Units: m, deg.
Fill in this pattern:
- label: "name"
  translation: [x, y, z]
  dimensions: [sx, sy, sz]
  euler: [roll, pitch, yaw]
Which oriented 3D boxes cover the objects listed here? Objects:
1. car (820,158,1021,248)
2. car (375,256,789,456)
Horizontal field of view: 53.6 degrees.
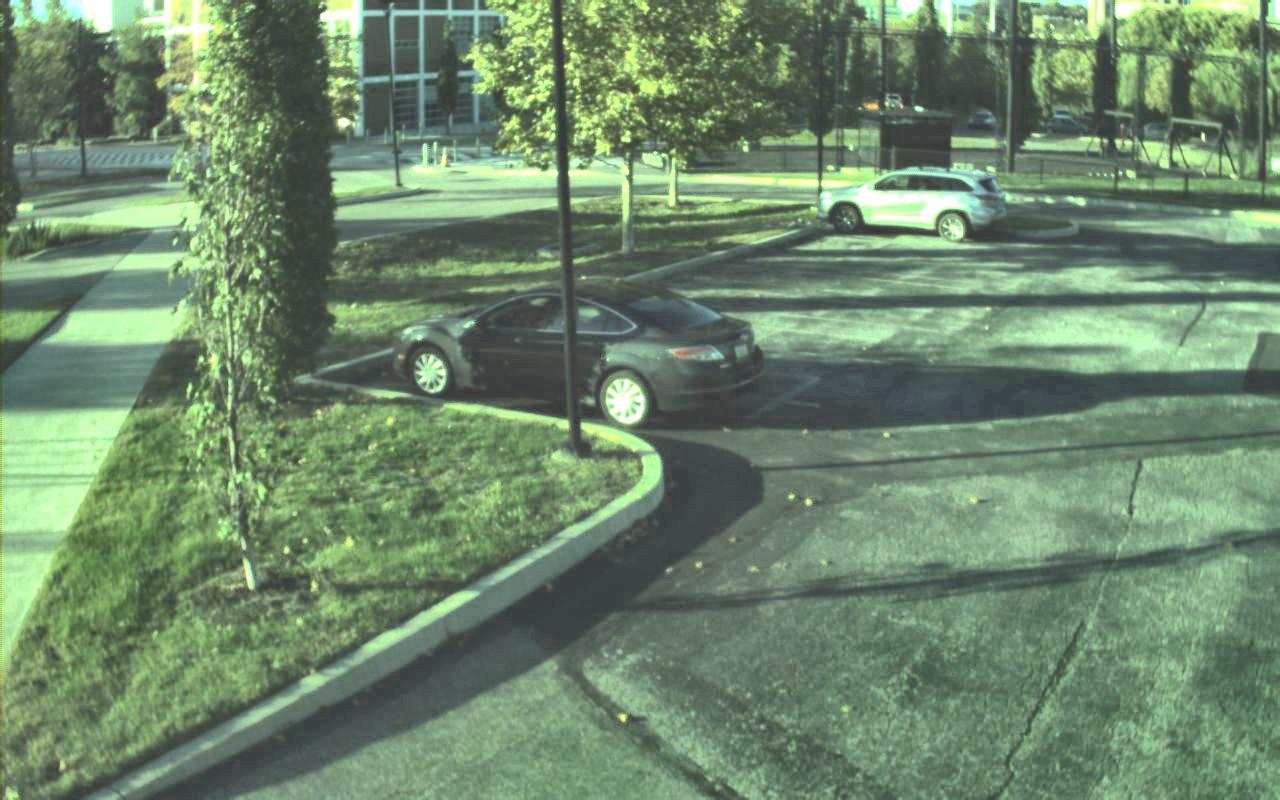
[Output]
- label: "car"
  translation: [7.069, -4.992, 30.912]
  dimensions: [4.760, 1.784, 2.043]
  euler: [7, 17, 27]
- label: "car"
  translation: [-0.735, -0.666, 15.018]
  dimensions: [4.586, 1.554, 1.971]
  euler: [7, 17, 28]
